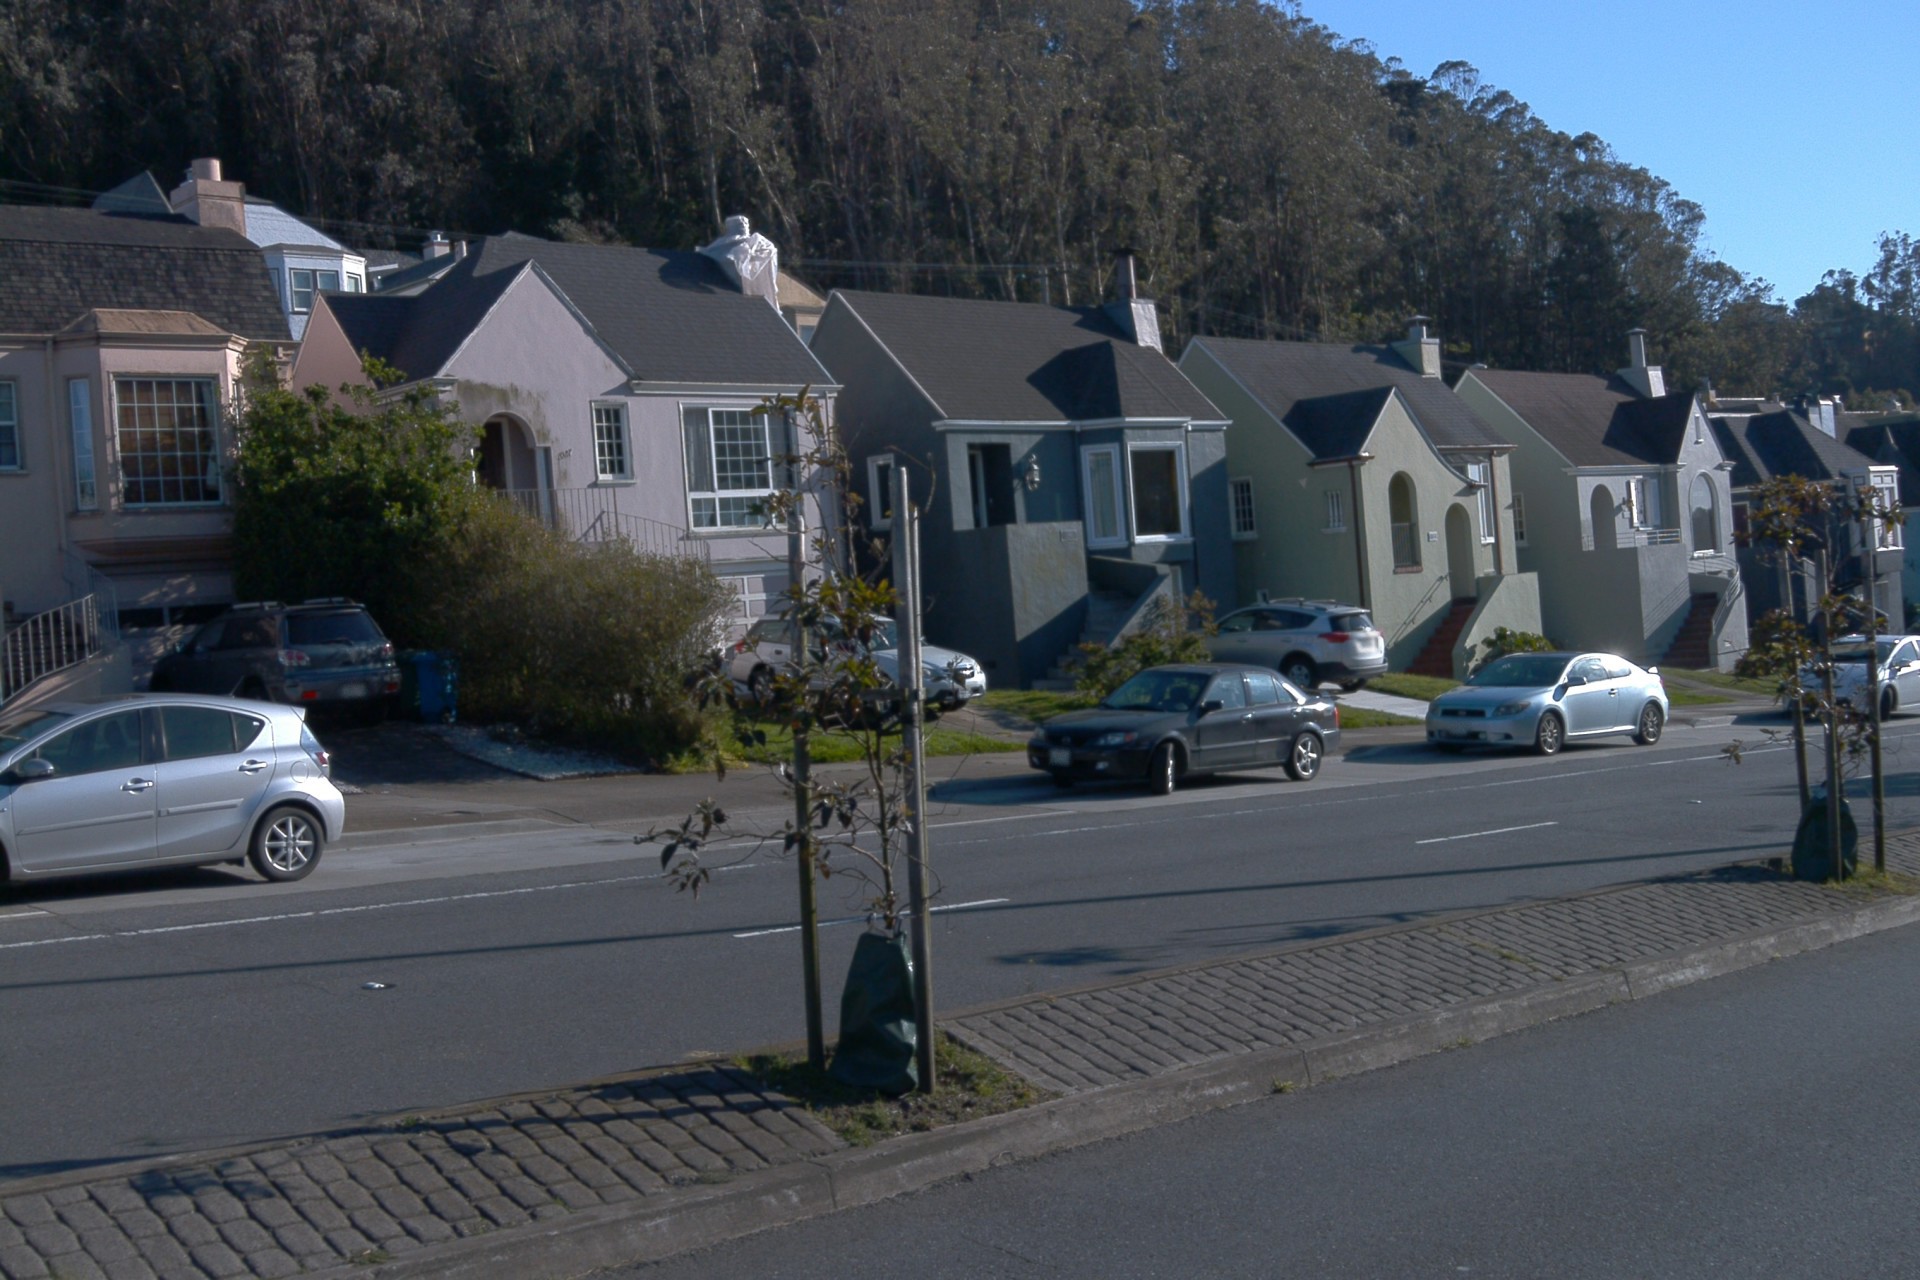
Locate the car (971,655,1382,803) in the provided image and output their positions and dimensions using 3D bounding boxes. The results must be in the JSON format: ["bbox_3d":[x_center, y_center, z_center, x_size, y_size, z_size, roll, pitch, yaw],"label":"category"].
[{"bbox_3d":[2.663,0.966,24.547,2.201,1.500,4.956,0,0,45],"label":"car"}]

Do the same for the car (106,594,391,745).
[{"bbox_3d":[-9.208,0.346,26.674,4.095,1.790,1.763,0,0,43],"label":"car"}]

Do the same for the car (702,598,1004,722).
[{"bbox_3d":[-1.771,0.297,32.956,4.809,1.830,1.958,0,0,42],"label":"car"}]

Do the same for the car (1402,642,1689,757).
[{"bbox_3d":[8.459,0.796,29.735,4.503,1.490,1.896,-1,0,-43],"label":"car"}]
